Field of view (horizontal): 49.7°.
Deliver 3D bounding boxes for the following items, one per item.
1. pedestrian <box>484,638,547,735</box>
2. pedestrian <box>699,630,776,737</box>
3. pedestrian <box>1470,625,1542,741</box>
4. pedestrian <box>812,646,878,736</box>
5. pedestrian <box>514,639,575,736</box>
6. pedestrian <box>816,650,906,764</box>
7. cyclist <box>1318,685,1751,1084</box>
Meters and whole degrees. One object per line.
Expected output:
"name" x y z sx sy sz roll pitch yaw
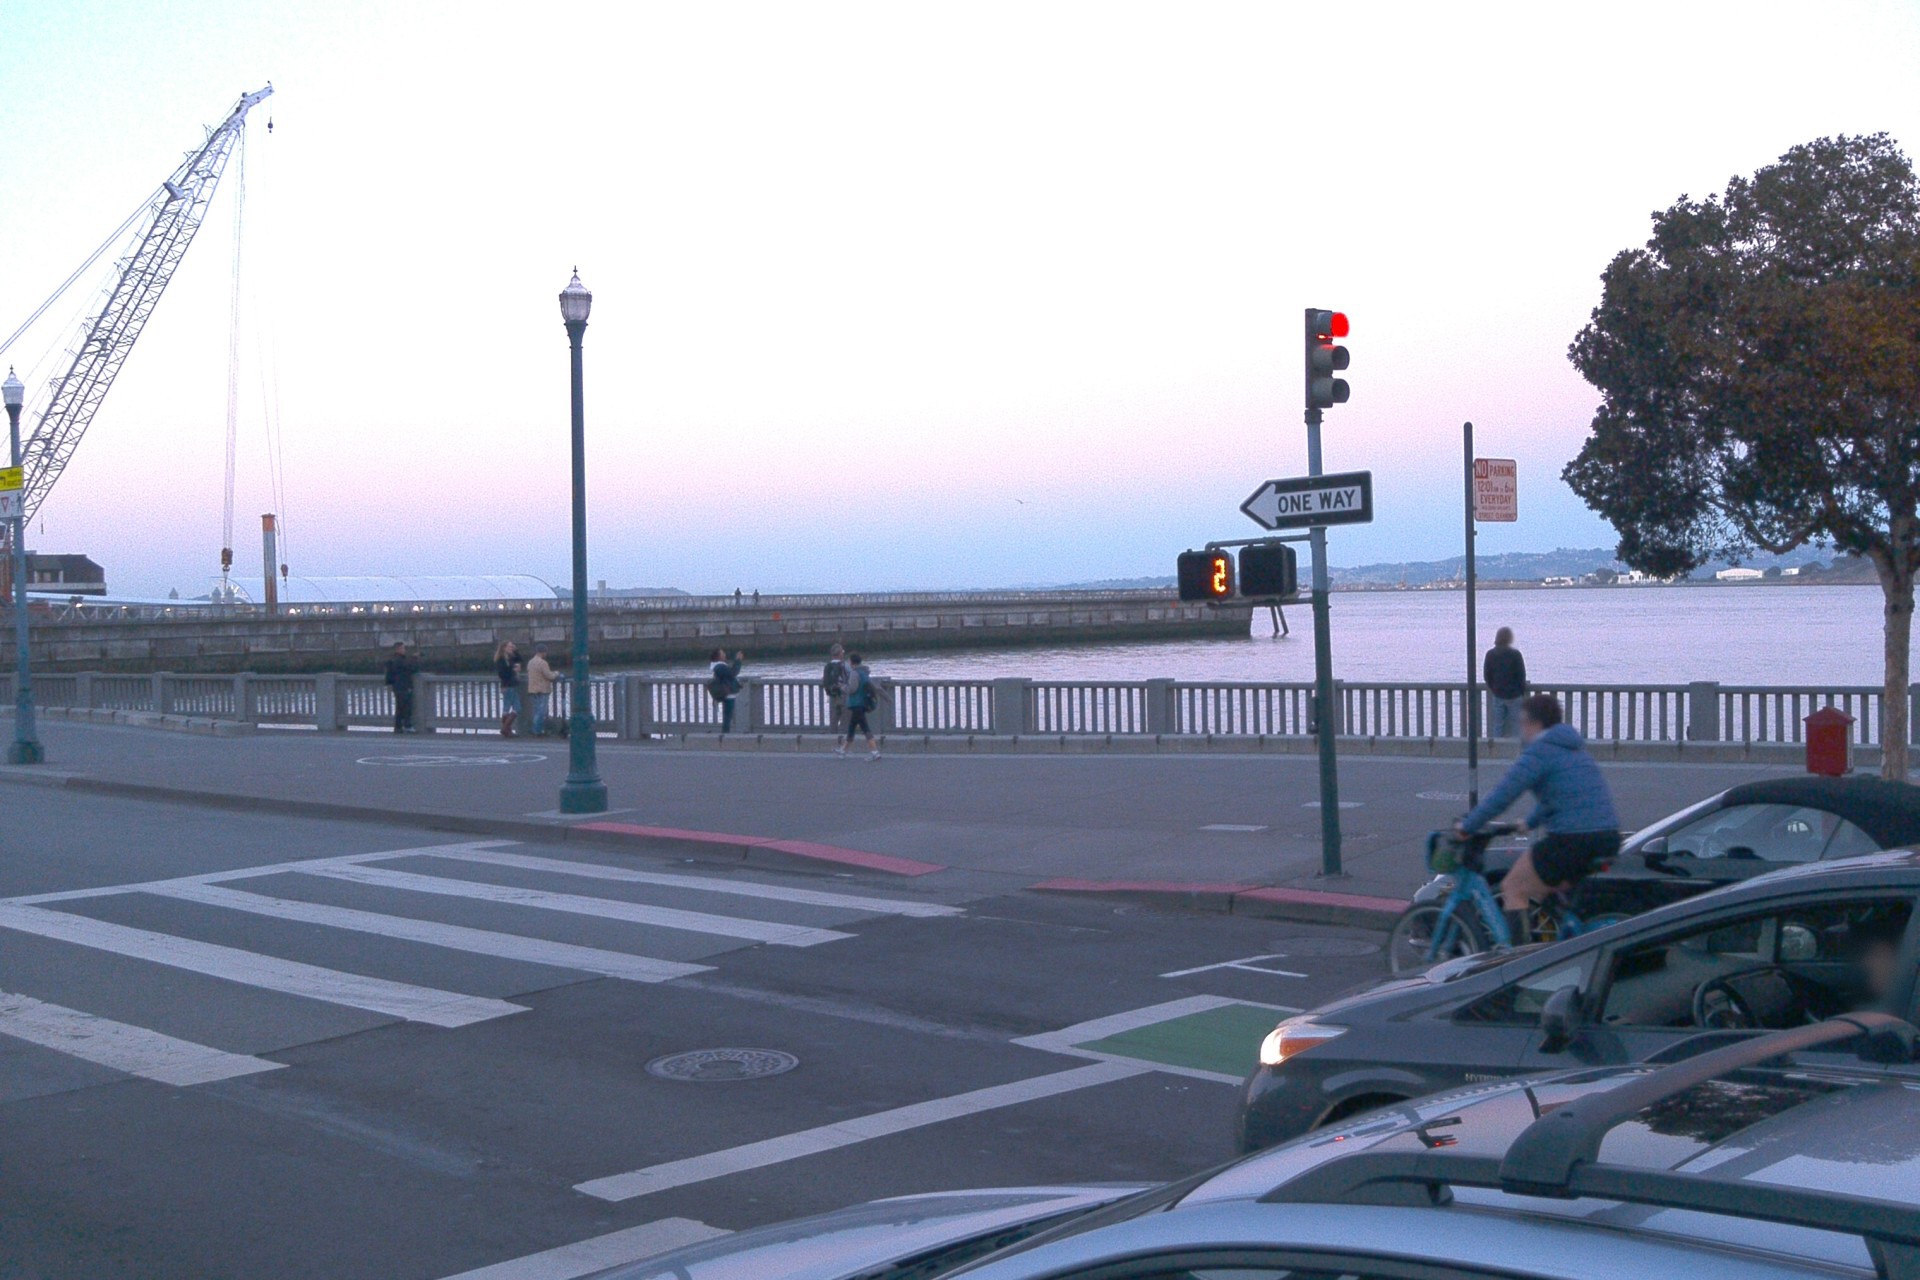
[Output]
"pedestrian" -7.972 0.832 37.196 0.731 1.710 0.825 0 0 40
"pedestrian" -3.557 0.686 33.094 0.867 1.680 0.881 0 0 -41
"pedestrian" 7.210 0.559 27.359 0.751 1.510 0.681 0 0 33
"pedestrian" -1.813 0.795 32.773 0.791 1.400 0.928 0 0 15
"pedestrian" -7.380 0.839 36.850 0.753 1.710 0.745 0 0 33
"pedestrian" -1.396 0.927 29.305 0.983 1.580 0.826 0 0 29
"cyclist" 2.961 1.181 10.860 0.867 1.860 2.038 0 0 -42
